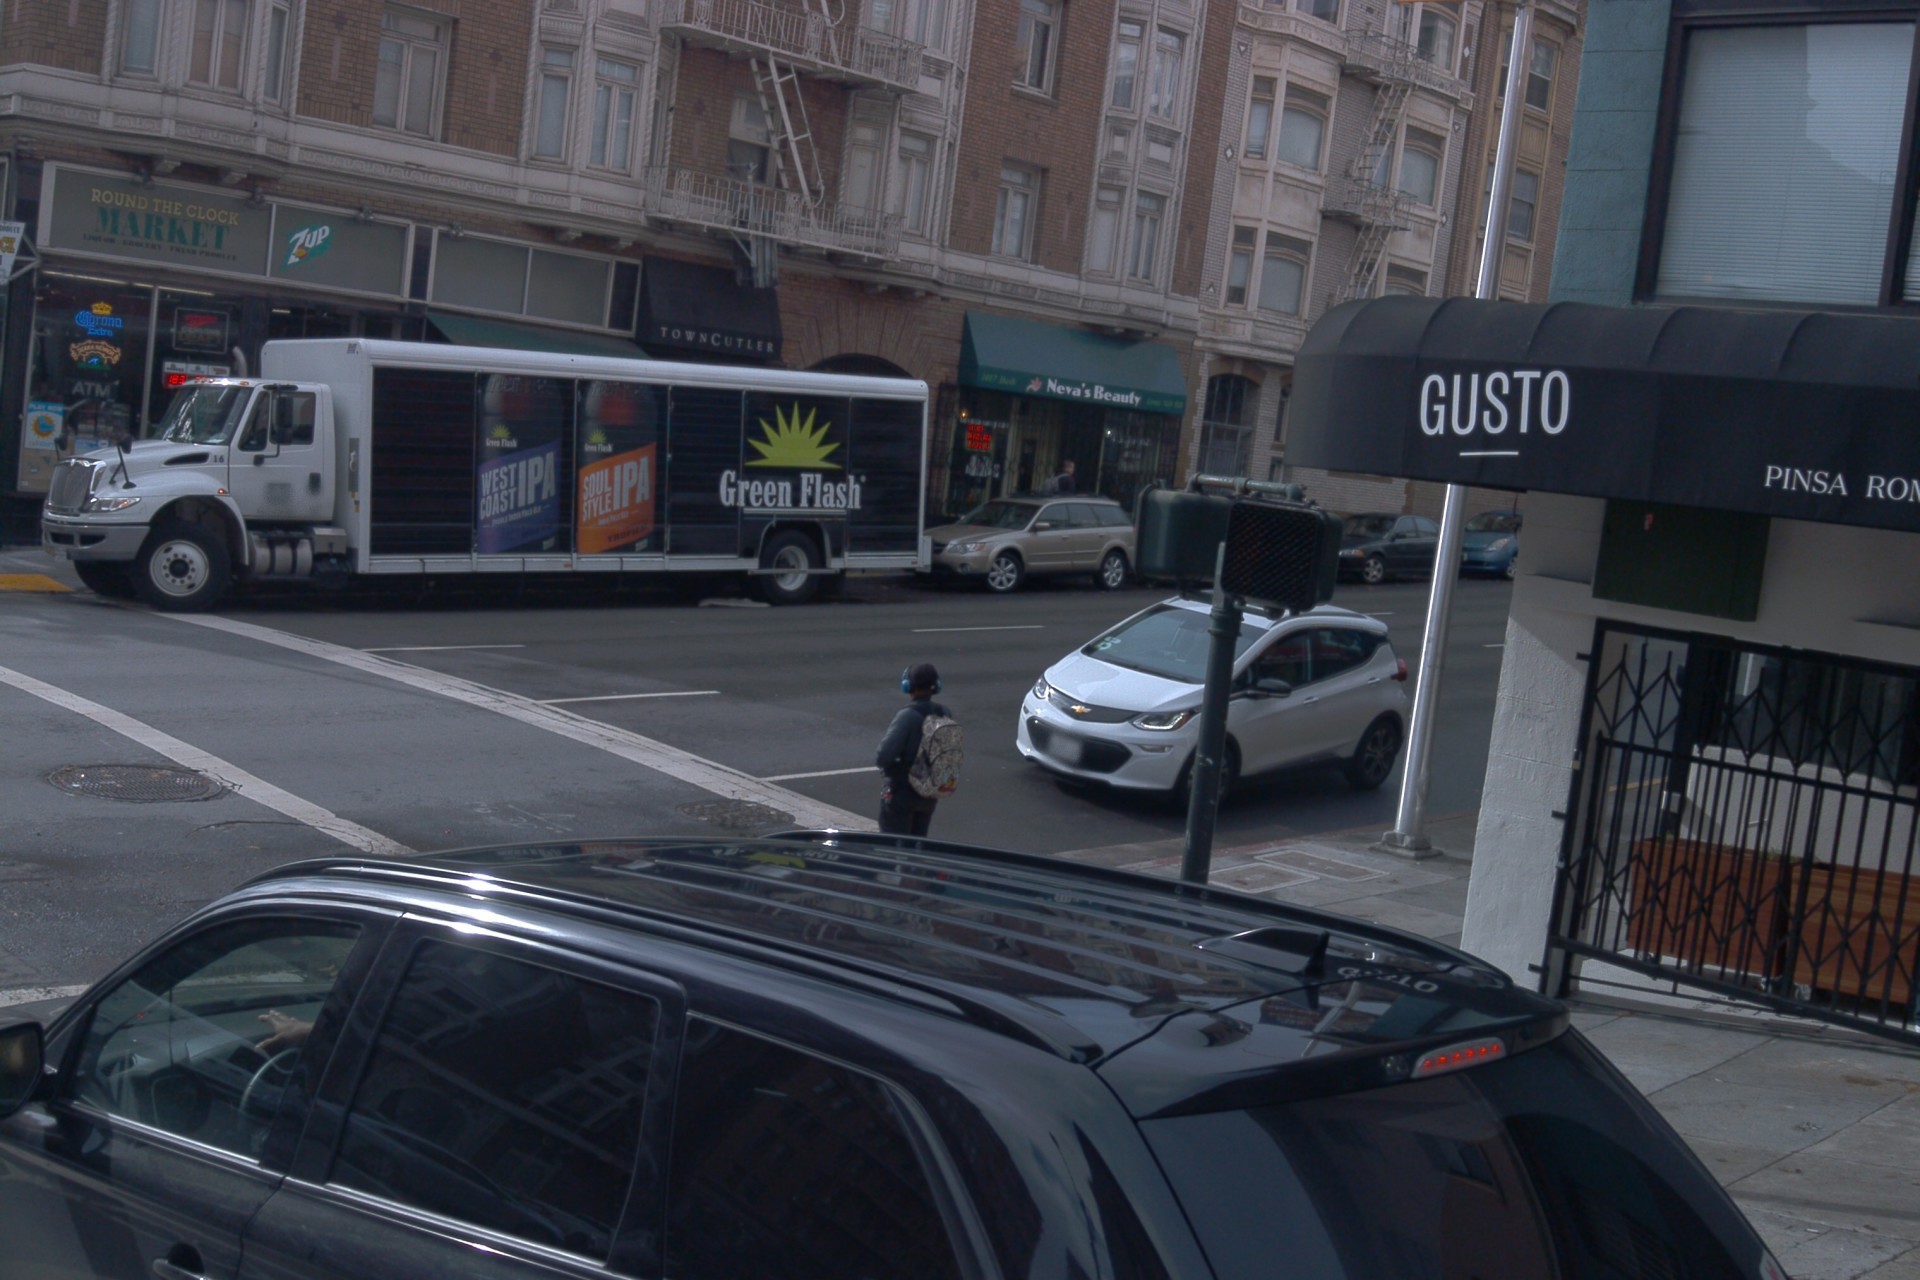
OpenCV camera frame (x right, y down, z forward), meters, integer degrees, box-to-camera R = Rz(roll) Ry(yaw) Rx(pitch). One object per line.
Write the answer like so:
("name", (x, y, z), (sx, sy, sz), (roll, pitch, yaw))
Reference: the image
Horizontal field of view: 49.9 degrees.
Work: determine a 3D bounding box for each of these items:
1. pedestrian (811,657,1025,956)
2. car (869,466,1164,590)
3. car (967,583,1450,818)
("pedestrian", (-0.243, 0.903, 11.703), (0.929, 1.590, 0.750), (2, 1, 43))
("car", (1.001, -1.750, 33.644), (2.182, 1.770, 4.833), (2, 1, 42))
("car", (2.261, 0.447, 17.887), (2.062, 1.780, 4.279), (2, 1, 42))
